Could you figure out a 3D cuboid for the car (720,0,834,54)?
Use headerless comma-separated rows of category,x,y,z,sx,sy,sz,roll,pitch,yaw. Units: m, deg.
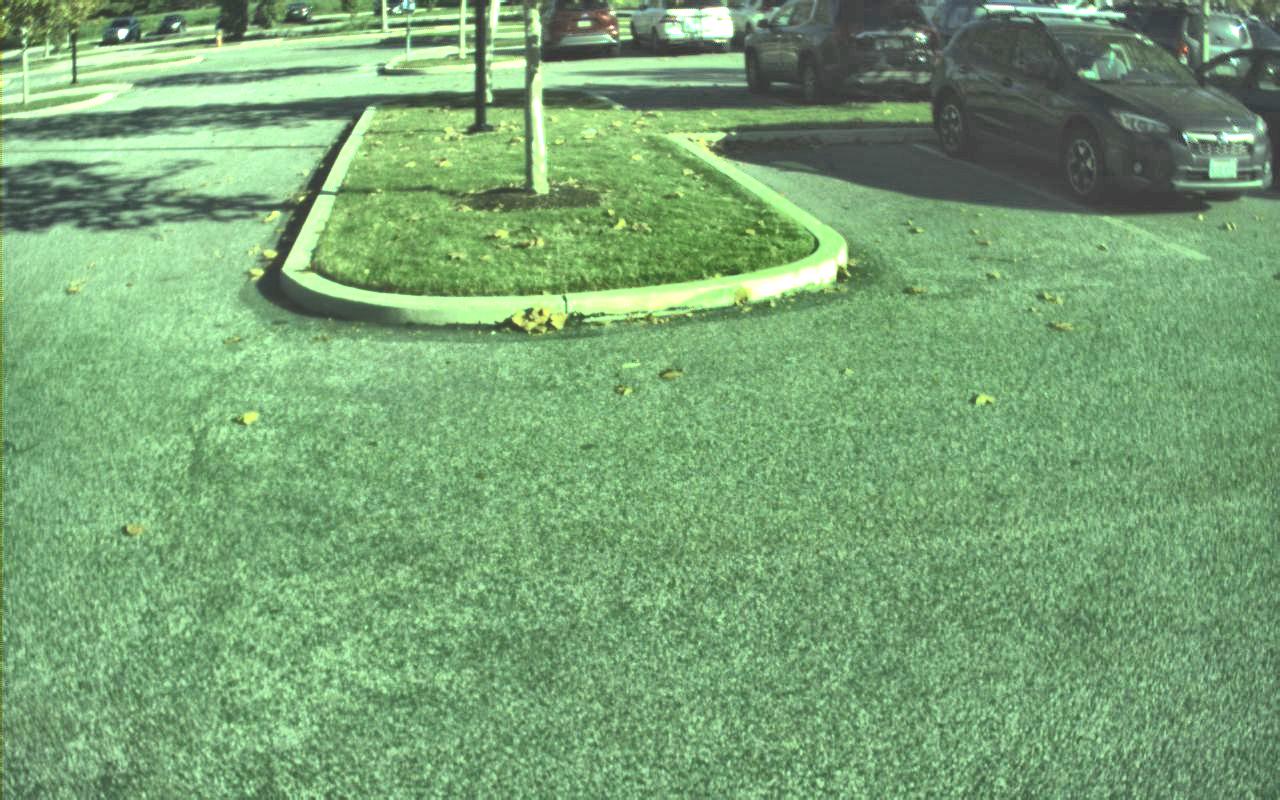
car,3.634,-10.223,33.095,1.968,1.643,4.456,-4,17,-9

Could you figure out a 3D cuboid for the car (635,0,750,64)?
car,1.303,-9.799,32.537,2.004,1.691,4.651,-4,17,-11

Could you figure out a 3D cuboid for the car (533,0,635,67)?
car,-1.544,-9.521,31.860,1.960,1.638,4.481,-4,17,-11

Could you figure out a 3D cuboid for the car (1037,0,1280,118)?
car,8.605,-5.761,18.961,2.023,1.728,4.592,-5,17,-14

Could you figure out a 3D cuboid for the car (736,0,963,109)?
car,3.114,-5.505,18.988,1.995,1.664,4.708,-4,17,-11

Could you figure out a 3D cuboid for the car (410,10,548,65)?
car,-5.740,-12.853,43.274,4.790,1.722,2.026,-3,16,-7

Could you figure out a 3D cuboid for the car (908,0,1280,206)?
car,4.382,-3.038,11.343,1.970,1.689,4.628,-4,17,-11

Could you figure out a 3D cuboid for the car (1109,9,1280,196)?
car,6.985,-3.311,11.985,1.955,1.592,4.453,-4,17,-10
